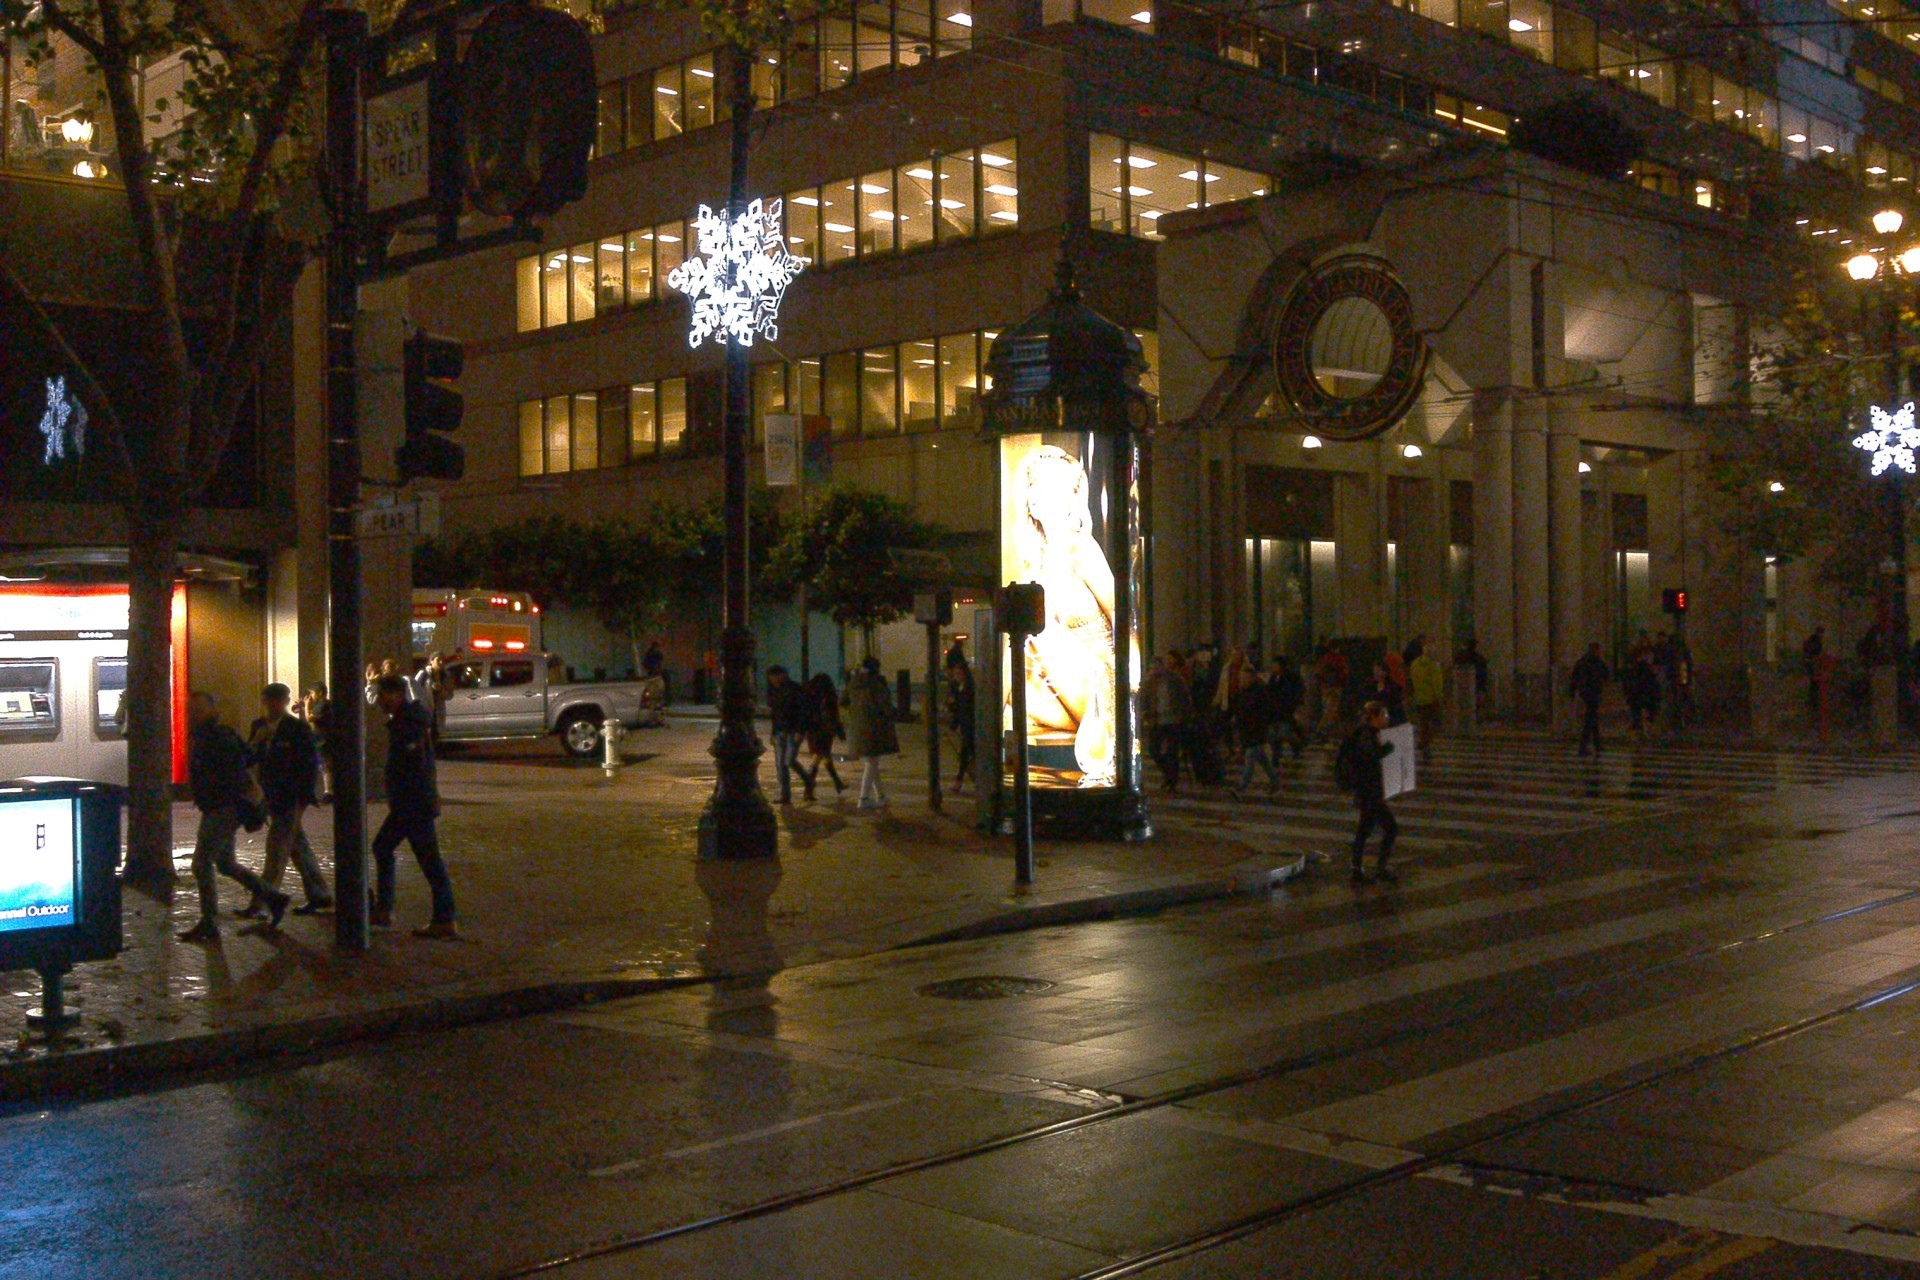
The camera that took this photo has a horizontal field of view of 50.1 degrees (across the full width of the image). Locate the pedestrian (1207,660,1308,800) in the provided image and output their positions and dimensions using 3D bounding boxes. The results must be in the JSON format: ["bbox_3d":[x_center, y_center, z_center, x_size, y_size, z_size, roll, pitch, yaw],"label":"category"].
[{"bbox_3d":[3.655,1.081,25.227,1.102,1.650,0.699,-1,1,-45],"label":"pedestrian"}]

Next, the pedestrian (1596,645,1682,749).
[{"bbox_3d":[11.384,0.936,34.433,1.123,1.690,0.785,0,1,-22],"label":"pedestrian"}]

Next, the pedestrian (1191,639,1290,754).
[{"bbox_3d":[4.239,0.837,31.080,1.080,1.680,1.025,1,1,44],"label":"pedestrian"}]

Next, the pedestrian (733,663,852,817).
[{"bbox_3d":[-1.979,1.159,24.337,0.838,1.730,1.146,1,1,42],"label":"pedestrian"}]

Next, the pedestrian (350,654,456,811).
[{"bbox_3d":[-6.140,1.000,22.661,0.879,1.670,0.700,1,1,30],"label":"pedestrian"}]

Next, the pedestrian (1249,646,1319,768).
[{"bbox_3d":[4.828,0.981,30.583,0.725,1.770,0.799,1,1,39],"label":"pedestrian"}]

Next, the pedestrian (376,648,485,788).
[{"bbox_3d":[-6.709,0.964,25.996,0.977,1.700,1.116,-1,1,-37],"label":"pedestrian"}]

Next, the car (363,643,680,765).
[{"bbox_3d":[-7.338,1.055,34.742,4.910,1.960,1.934,0,1,0],"label":"car"}]

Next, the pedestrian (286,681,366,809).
[{"bbox_3d":[-6.974,1.137,22.590,0.636,1.350,0.644,-1,1,-39],"label":"pedestrian"}]

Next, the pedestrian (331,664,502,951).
[{"bbox_3d":[-3.793,1.126,14.317,1.019,1.890,0.784,0,1,-25],"label":"pedestrian"}]

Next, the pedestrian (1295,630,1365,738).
[{"bbox_3d":[6.521,0.761,36.189,0.795,1.860,1.041,1,1,41],"label":"pedestrian"}]

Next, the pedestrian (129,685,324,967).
[{"bbox_3d":[-4.983,1.225,13.967,1.054,1.790,0.689,-1,1,-42],"label":"pedestrian"}]

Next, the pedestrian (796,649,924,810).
[{"bbox_3d":[-1.121,0.982,23.108,1.120,1.720,0.908,-1,1,-39],"label":"pedestrian"}]

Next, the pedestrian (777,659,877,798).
[{"bbox_3d":[-1.703,1.109,26.272,0.806,1.710,0.985,1,1,43],"label":"pedestrian"}]

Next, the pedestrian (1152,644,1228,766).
[{"bbox_3d":[3.516,0.974,31.387,0.842,1.820,0.812,1,1,42],"label":"pedestrian"}]

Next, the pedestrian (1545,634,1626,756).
[{"bbox_3d":[9.921,0.861,32.577,1.066,1.880,0.763,-1,1,-41],"label":"pedestrian"}]

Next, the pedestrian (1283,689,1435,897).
[{"bbox_3d":[3.458,1.285,17.754,1.049,1.670,1.133,0,1,24],"label":"pedestrian"}]

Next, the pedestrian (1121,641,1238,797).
[{"bbox_3d":[2.836,0.990,26.461,1.418,1.920,0.742,-1,1,-43],"label":"pedestrian"}]

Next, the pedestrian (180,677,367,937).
[{"bbox_3d":[-4.896,1.156,14.737,1.066,1.740,1.163,0,1,-8],"label":"pedestrian"}]

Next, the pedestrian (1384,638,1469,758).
[{"bbox_3d":[7.130,0.864,31.413,1.045,1.780,0.780,-1,1,-38],"label":"pedestrian"}]

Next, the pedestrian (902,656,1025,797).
[{"bbox_3d":[0.051,1.111,27.065,1.035,1.770,1.284,1,1,41],"label":"pedestrian"}]

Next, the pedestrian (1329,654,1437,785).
[{"bbox_3d":[5.464,1.005,26.523,1.084,1.620,0.886,-1,1,-40],"label":"pedestrian"}]
